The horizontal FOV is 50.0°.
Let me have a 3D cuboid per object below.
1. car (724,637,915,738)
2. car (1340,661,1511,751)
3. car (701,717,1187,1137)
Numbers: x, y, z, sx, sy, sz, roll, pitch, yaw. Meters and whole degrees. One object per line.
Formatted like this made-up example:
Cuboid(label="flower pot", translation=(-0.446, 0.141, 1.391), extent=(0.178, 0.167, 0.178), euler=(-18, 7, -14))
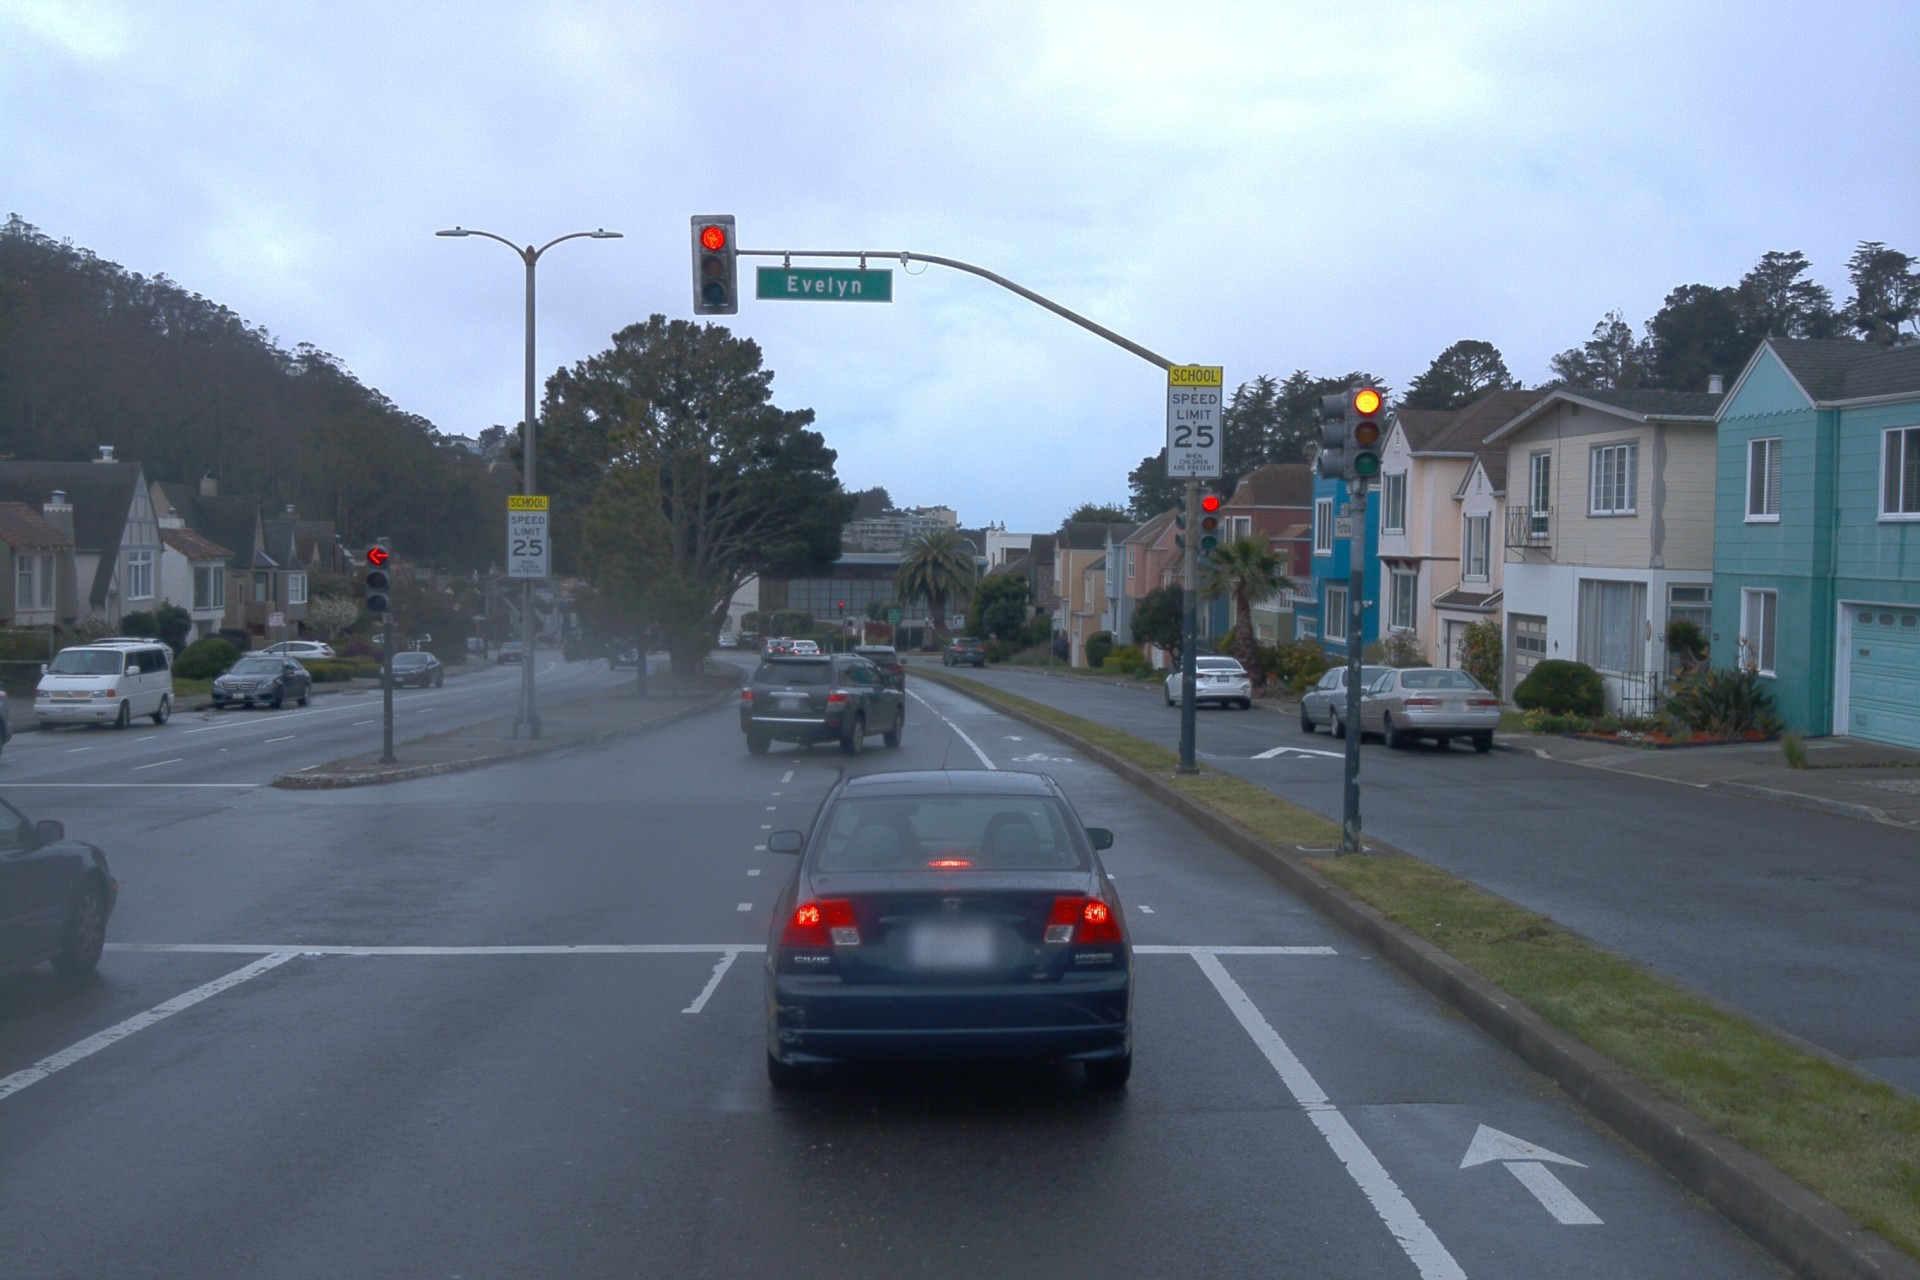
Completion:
Cuboid(label="car", translation=(-2.374, 0.775, 36.200), extent=(2.120, 1.660, 4.782), euler=(0, 0, 12))
Cuboid(label="car", translation=(8.079, 1.106, 36.164), extent=(1.755, 1.440, 4.469), euler=(0, 0, -4))
Cuboid(label="car", translation=(-0.107, 1.259, 10.577), extent=(2.004, 1.570, 4.164), euler=(0, 0, -1))
